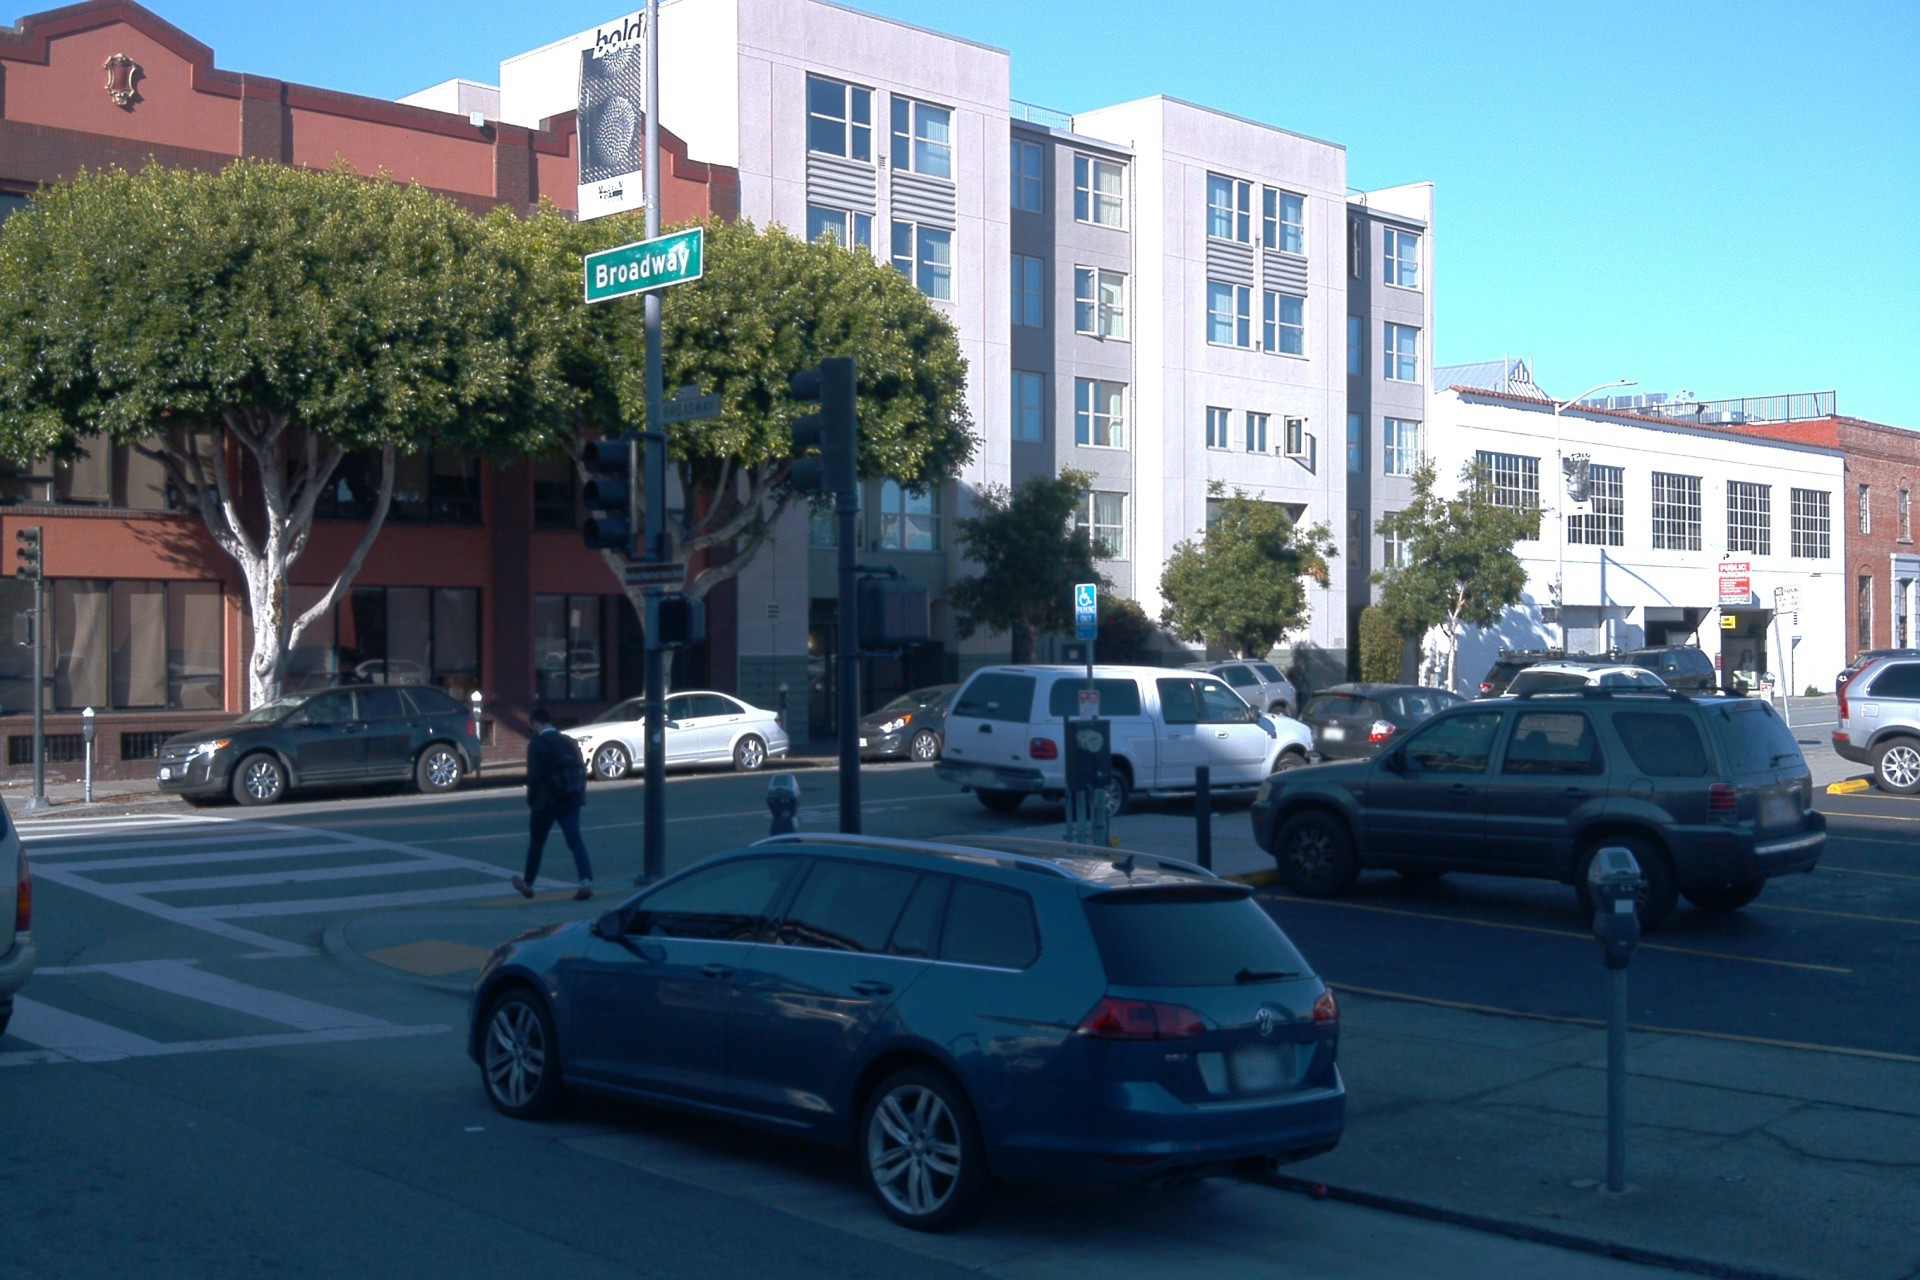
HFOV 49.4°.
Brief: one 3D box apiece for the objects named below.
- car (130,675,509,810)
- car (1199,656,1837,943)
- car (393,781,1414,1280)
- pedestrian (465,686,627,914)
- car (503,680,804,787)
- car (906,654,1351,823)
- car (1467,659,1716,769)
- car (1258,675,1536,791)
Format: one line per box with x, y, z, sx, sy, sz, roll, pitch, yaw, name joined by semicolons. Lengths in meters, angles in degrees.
-9.260;1.416;30.422;4.813;1.790;2.184;1;0;-45;car
4.307;1.116;16.598;4.506;1.950;1.972;0;0;44;car
-0.474;1.570;9.655;4.642;1.550;2.040;0;0;44;car
-3.633;1.360;18.263;0.828;1.900;1.276;0;0;-44;pedestrian
-5.034;1.493;34.692;4.602;1.620;2.045;1;0;-44;car
2.262;1.158;26.617;5.715;1.920;2.394;1;0;-42;car
10.556;1.174;34.684;2.078;1.690;4.563;0;0;44;car
6.388;1.292;30.260;4.052;1.540;2.023;1;0;-45;car
